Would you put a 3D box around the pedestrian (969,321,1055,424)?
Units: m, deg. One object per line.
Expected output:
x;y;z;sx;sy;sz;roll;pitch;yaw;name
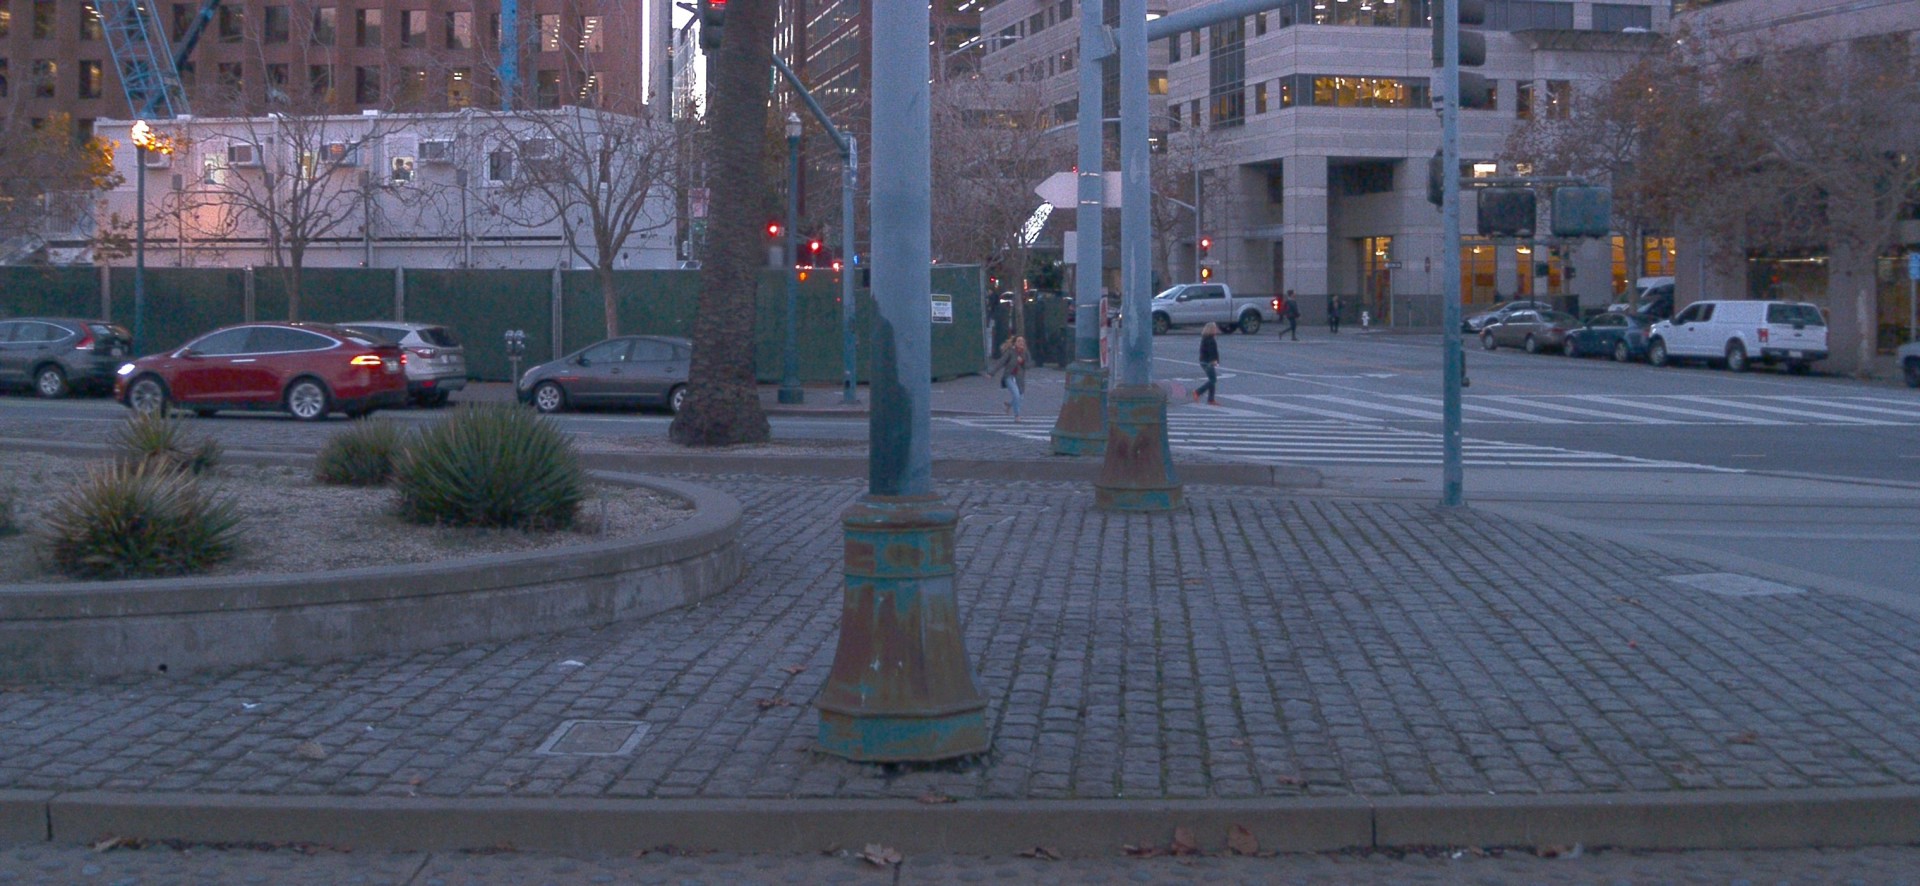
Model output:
0.890;-1.236;35.917;1.055;1.677;1.162;-1;3;-26;pedestrian

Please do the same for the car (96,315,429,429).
-11.858;-1.253;35.410;4.962;1.675;2.202;2;4;12;car

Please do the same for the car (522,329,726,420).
-6.208;-1.296;38.464;3.390;1.486;1.558;2;4;17;car
